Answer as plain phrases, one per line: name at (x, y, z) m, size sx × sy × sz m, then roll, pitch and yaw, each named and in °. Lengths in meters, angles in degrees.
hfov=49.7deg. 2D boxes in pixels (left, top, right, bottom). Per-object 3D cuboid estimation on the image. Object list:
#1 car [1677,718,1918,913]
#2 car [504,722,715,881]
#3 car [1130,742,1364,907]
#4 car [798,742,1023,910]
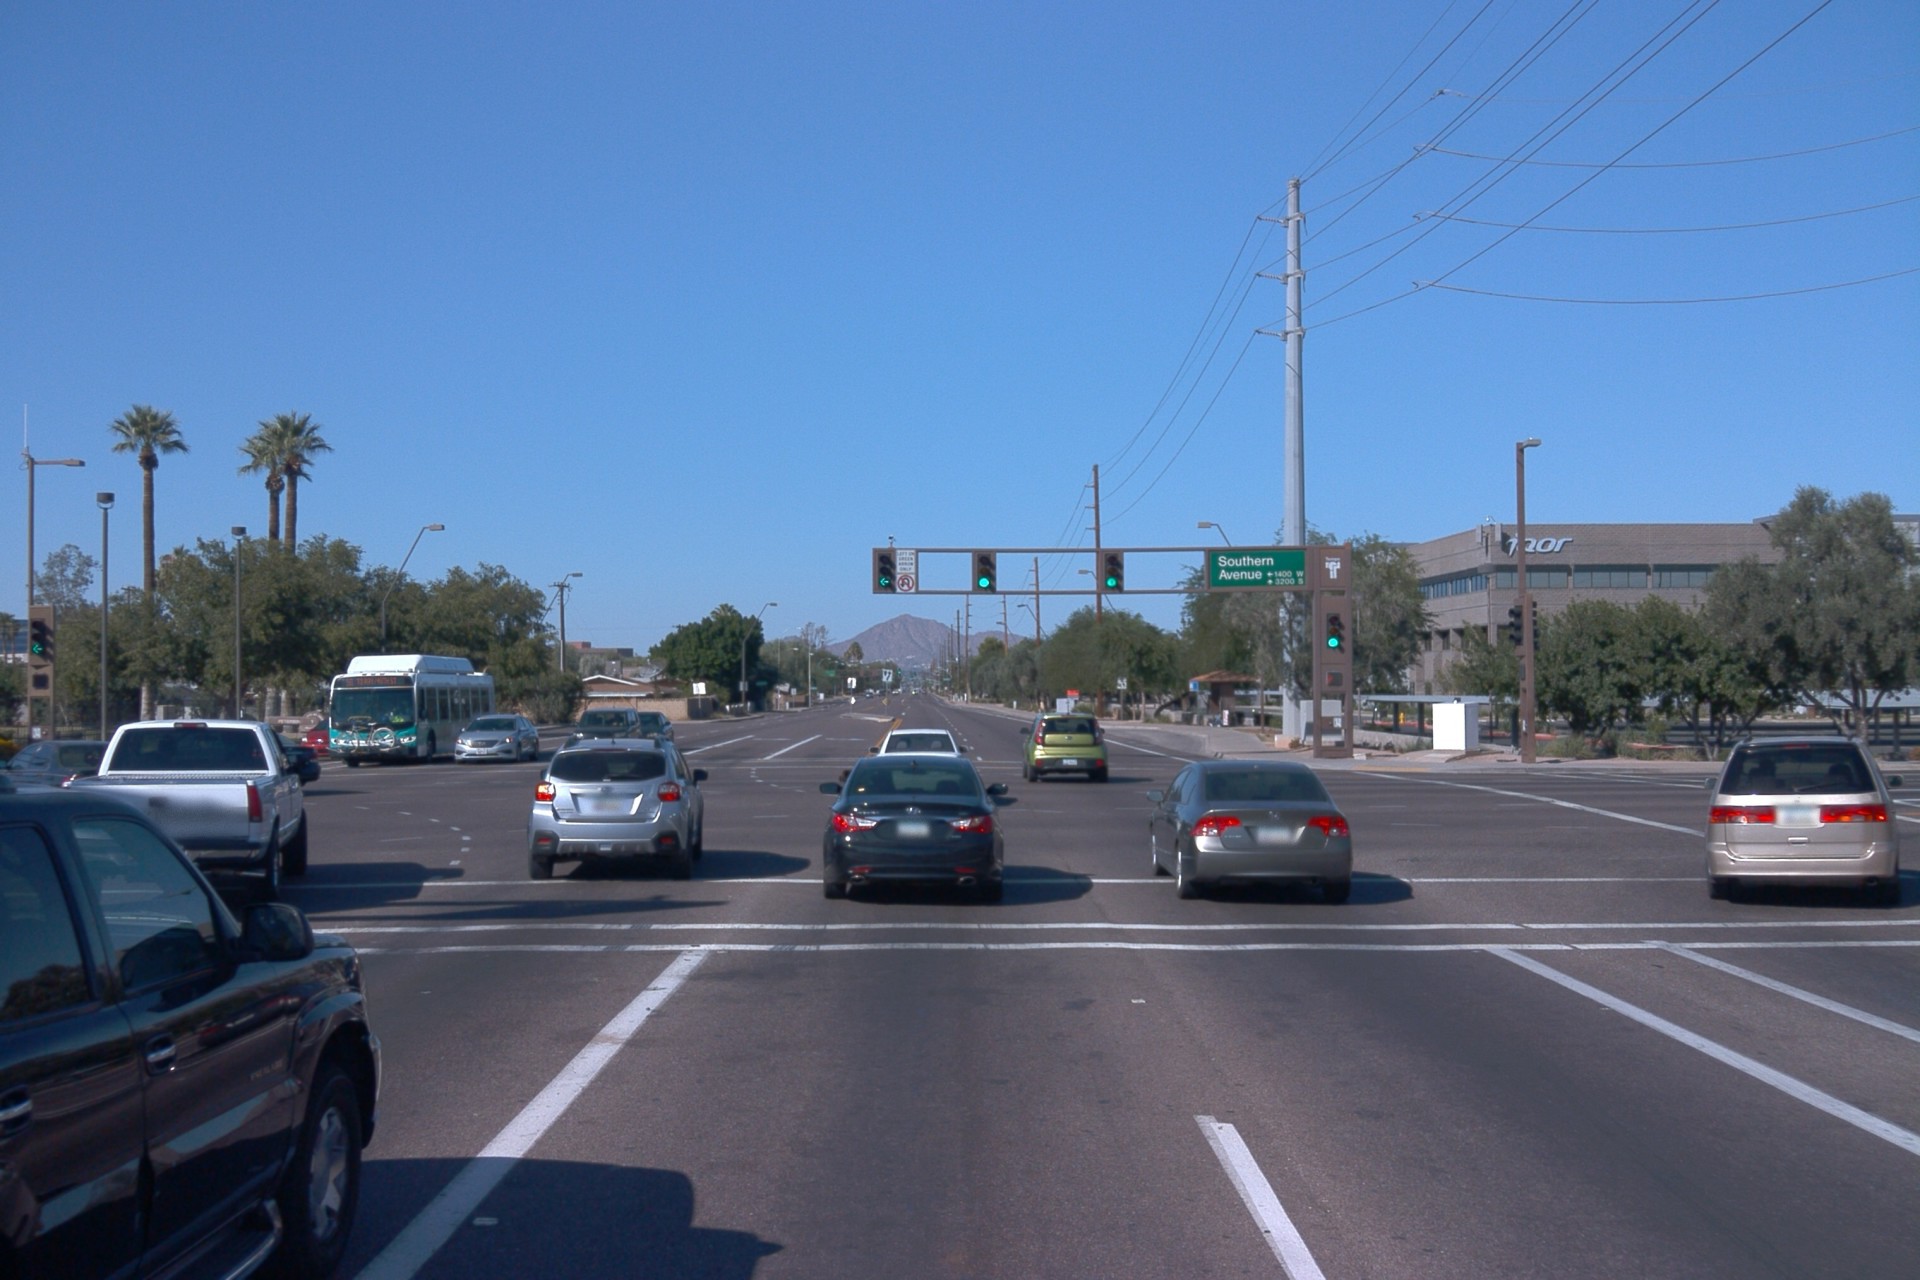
car at (9.358, 1.814, 22.934) m, size 2.230 × 1.810 × 4.927 m, roll 0°, pitch -1°, yaw 25°
car at (-4.028, 1.822, 24.536) m, size 2.076 × 1.610 × 4.770 m, roll 0°, pitch -1°, yaw -5°
car at (3.041, 1.945, 22.860) m, size 1.907 × 1.500 × 4.574 m, roll 0°, pitch -1°, yaw 0°
car at (-0.529, 1.912, 22.383) m, size 2.156 × 1.470 × 4.806 m, roll 0°, pitch -1°, yaw -1°
